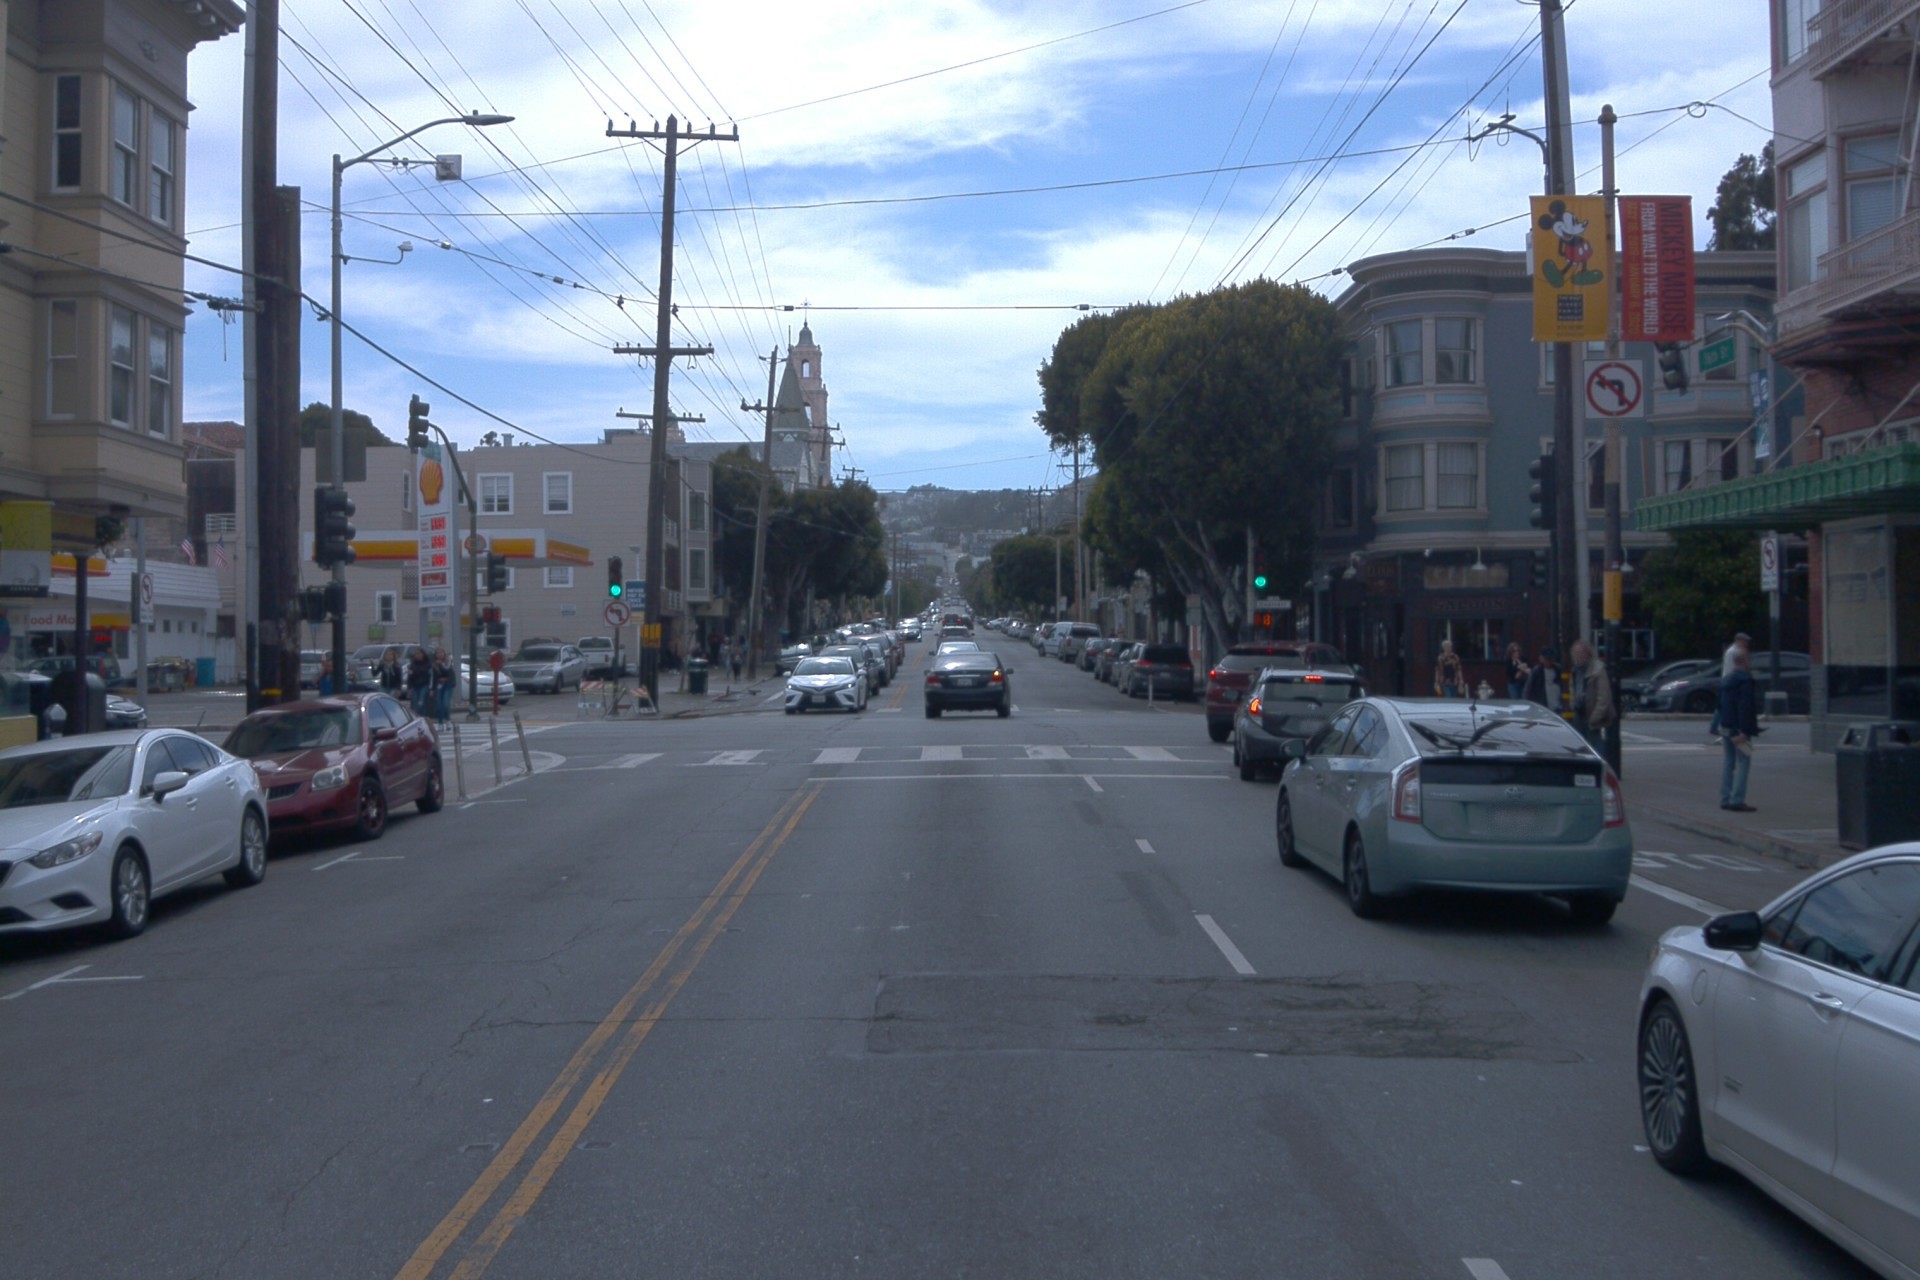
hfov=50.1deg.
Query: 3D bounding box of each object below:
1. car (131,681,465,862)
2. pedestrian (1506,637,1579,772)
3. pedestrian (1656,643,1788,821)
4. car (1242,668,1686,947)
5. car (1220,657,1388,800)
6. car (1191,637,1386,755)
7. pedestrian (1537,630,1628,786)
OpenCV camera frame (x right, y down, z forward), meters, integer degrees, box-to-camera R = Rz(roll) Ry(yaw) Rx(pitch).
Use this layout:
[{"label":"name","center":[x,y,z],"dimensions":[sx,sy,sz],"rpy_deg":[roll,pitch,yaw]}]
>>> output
[{"label":"car","center":[-6.766,1.281,21.652],"dimensions":[2.096,1.500,4.876],"rpy_deg":[0,1,-2]},{"label":"pedestrian","center":[7.635,0.839,26.985],"dimensions":[0.770,1.740,0.658],"rpy_deg":[0,1,0]},{"label":"pedestrian","center":[7.978,0.936,21.550],"dimensions":[0.761,1.790,1.042],"rpy_deg":[-1,1,-32]},{"label":"car","center":[3.527,1.100,15.372],"dimensions":[2.105,1.640,4.497],"rpy_deg":[0,1,-1]},{"label":"car","center":[4.352,1.063,26.375],"dimensions":[1.965,1.580,3.946],"rpy_deg":[0,1,8]},{"label":"car","center":[5.498,0.852,33.933],"dimensions":[2.023,1.730,4.481],"rpy_deg":[0,1,25]},{"label":"pedestrian","center":[7.468,0.800,24.688],"dimensions":[0.663,1.820,0.868],"rpy_deg":[-1,1,-18]}]
